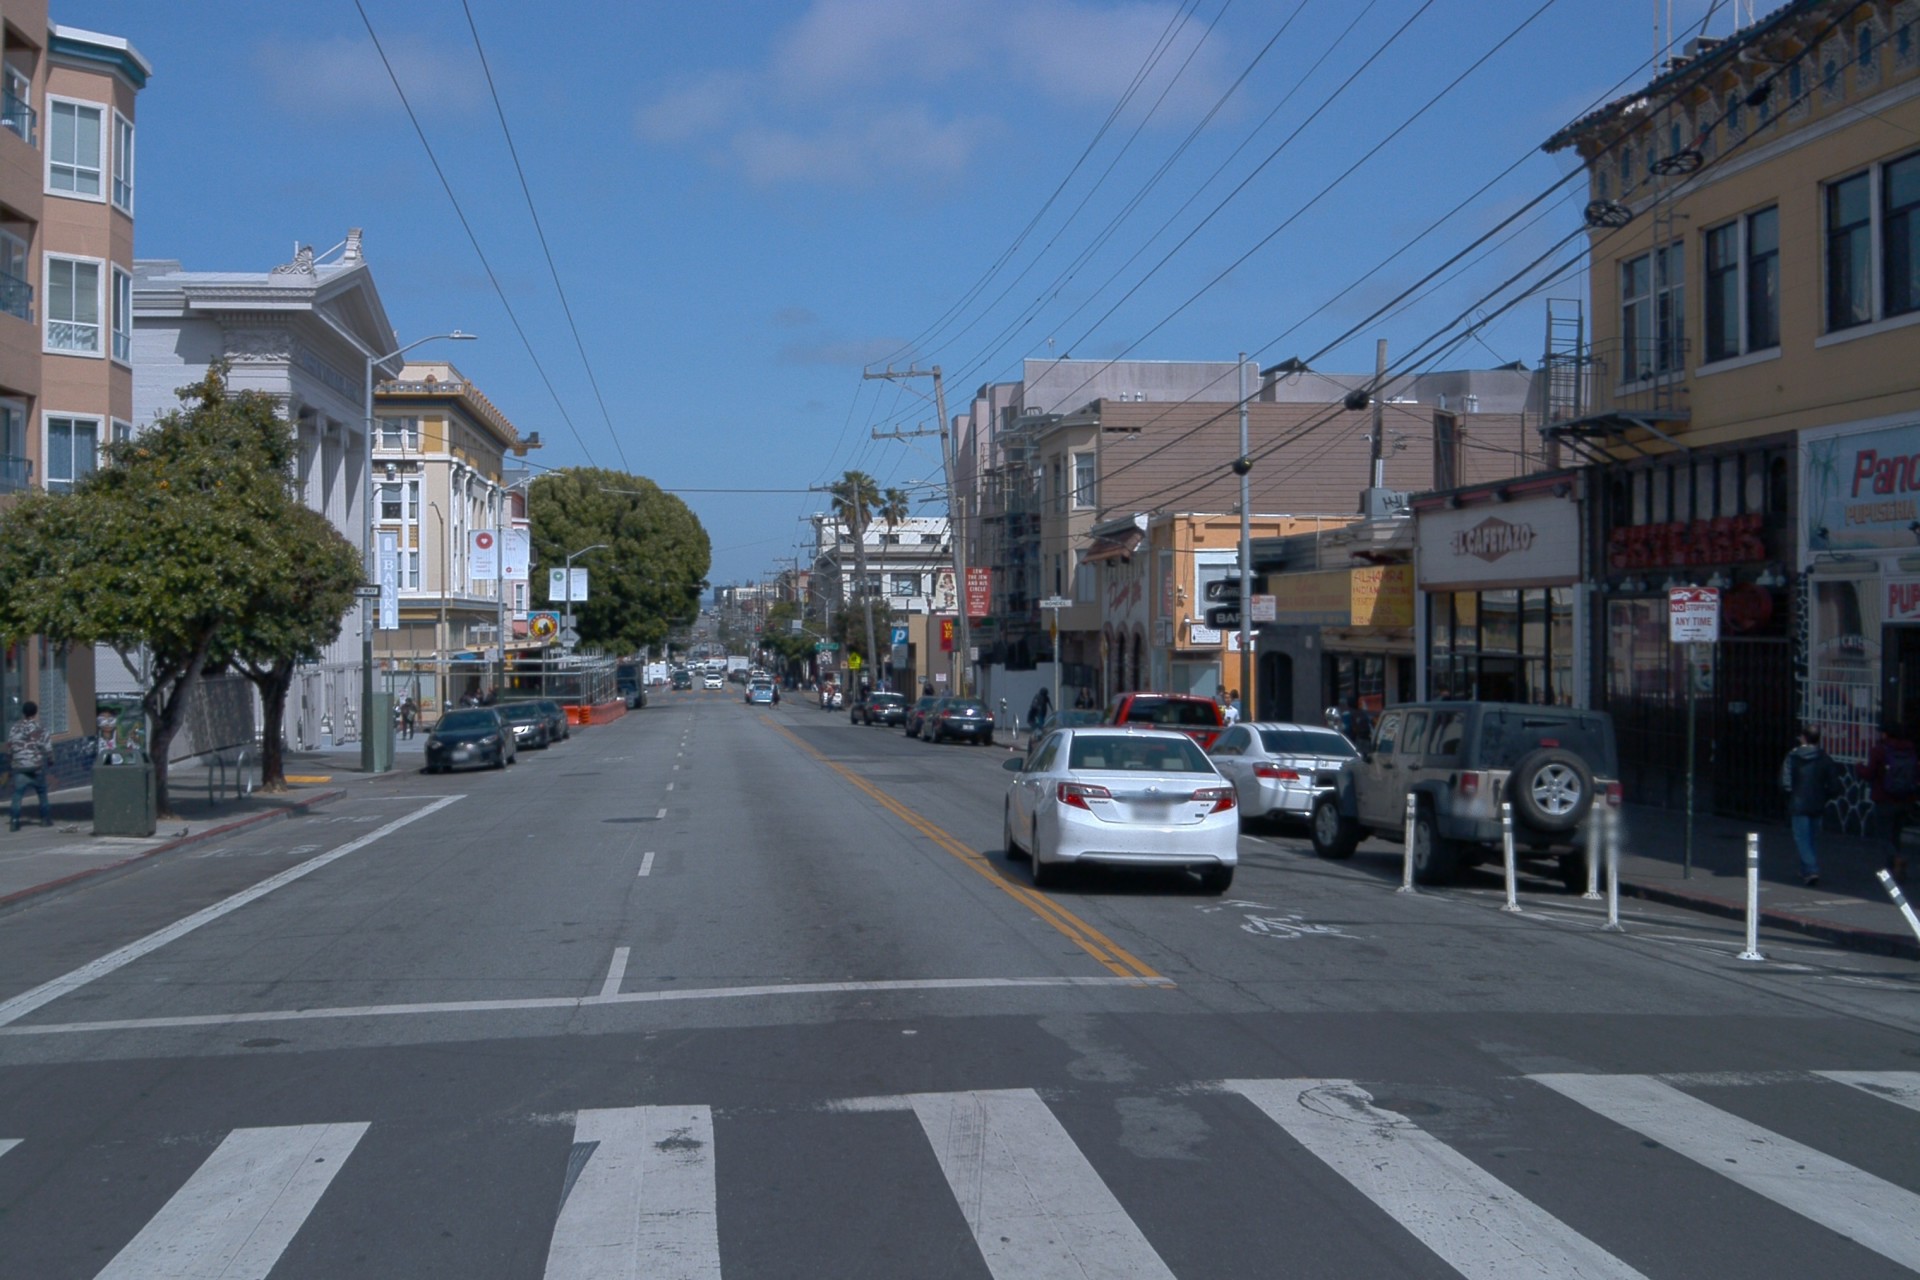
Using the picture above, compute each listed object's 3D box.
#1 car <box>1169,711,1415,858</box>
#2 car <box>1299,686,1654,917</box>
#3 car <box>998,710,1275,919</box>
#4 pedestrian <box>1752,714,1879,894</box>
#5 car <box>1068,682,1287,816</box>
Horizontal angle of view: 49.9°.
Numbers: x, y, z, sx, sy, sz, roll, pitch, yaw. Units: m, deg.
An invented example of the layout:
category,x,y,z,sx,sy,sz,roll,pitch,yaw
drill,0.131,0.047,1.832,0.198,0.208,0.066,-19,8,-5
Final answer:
category,x,y,z,sx,sy,sz,roll,pitch,yaw
car,4.400,1.878,28.176,2.106,1.580,4.857,0,1,-6
car,5.225,1.555,21.628,2.022,1.960,4.724,0,1,-7
car,1.558,1.574,20.007,2.080,1.570,4.570,0,1,-3
pedestrian,8.134,1.539,19.661,0.882,1.630,0.913,0,1,5
car,3.600,1.775,35.455,2.365,1.910,5.674,0,1,-9
